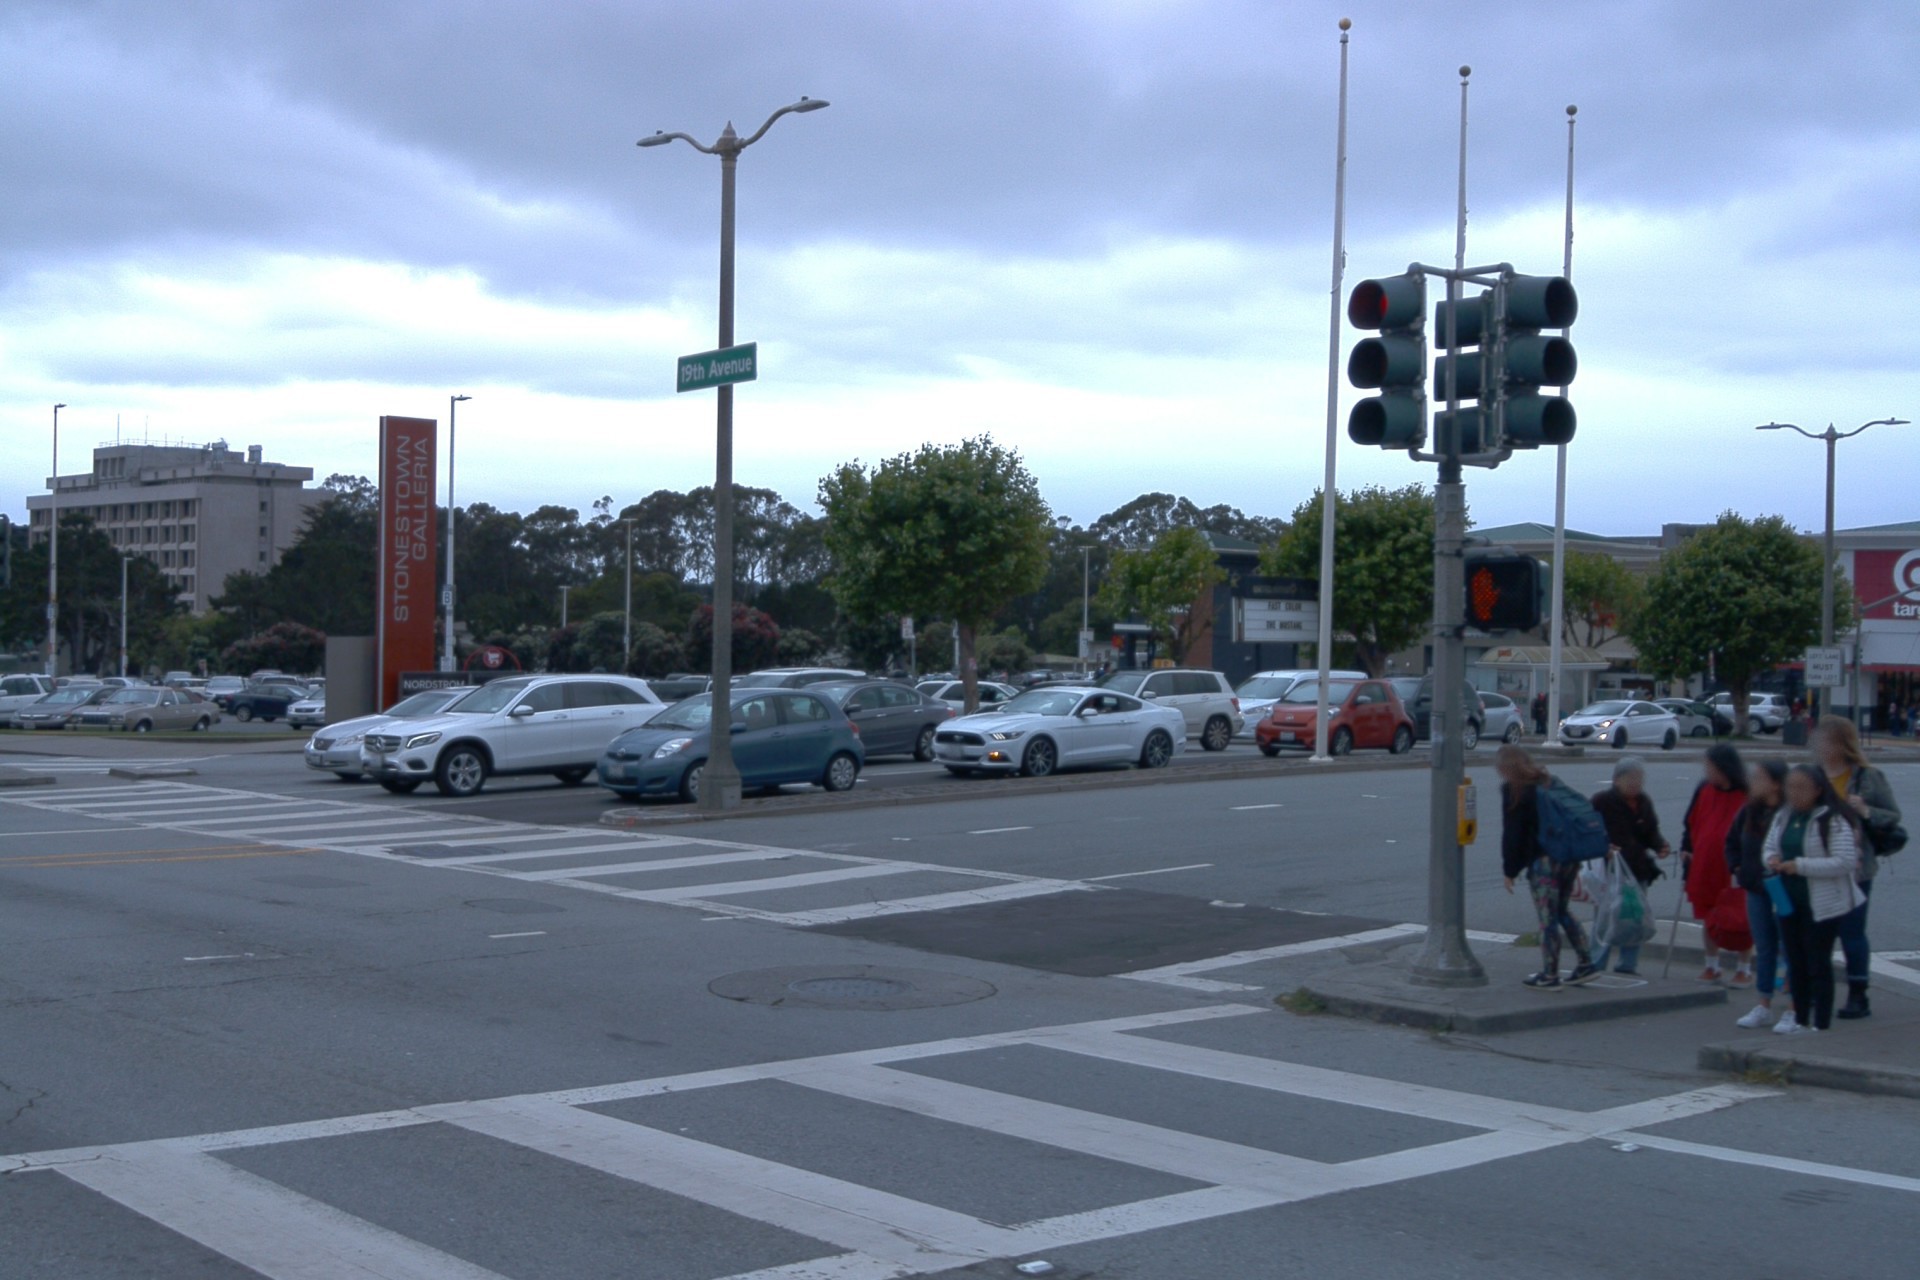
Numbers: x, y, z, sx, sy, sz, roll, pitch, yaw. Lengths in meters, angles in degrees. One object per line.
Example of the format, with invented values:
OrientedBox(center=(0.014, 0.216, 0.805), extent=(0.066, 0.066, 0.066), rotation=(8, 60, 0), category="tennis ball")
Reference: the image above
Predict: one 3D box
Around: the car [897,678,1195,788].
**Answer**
OrientedBox(center=(1.439, 1.434, 33.039), extent=(4.676, 1.500, 2.131), rotation=(-1, 1, -44), category="car")

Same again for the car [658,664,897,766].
OrientedBox(center=(-3.357, 1.339, 38.332), extent=(2.037, 1.690, 4.125), rotation=(0, 1, 43), category="car")

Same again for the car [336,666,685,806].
OrientedBox(center=(-6.501, 1.323, 30.036), extent=(4.518, 1.770, 2.128), rotation=(-1, 1, -44), category="car")

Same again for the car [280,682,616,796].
OrientedBox(center=(-8.124, 1.516, 32.876), extent=(4.768, 1.550, 2.139), rotation=(-1, 1, -43), category="car")

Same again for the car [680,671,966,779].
OrientedBox(center=(-2.280, 1.397, 35.462), extent=(2.338, 1.600, 4.725), rotation=(0, 1, 39), category="car")

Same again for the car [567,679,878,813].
OrientedBox(center=(-3.218, 1.391, 28.357), extent=(2.001, 1.590, 3.859), rotation=(0, 1, 44), category="car")
